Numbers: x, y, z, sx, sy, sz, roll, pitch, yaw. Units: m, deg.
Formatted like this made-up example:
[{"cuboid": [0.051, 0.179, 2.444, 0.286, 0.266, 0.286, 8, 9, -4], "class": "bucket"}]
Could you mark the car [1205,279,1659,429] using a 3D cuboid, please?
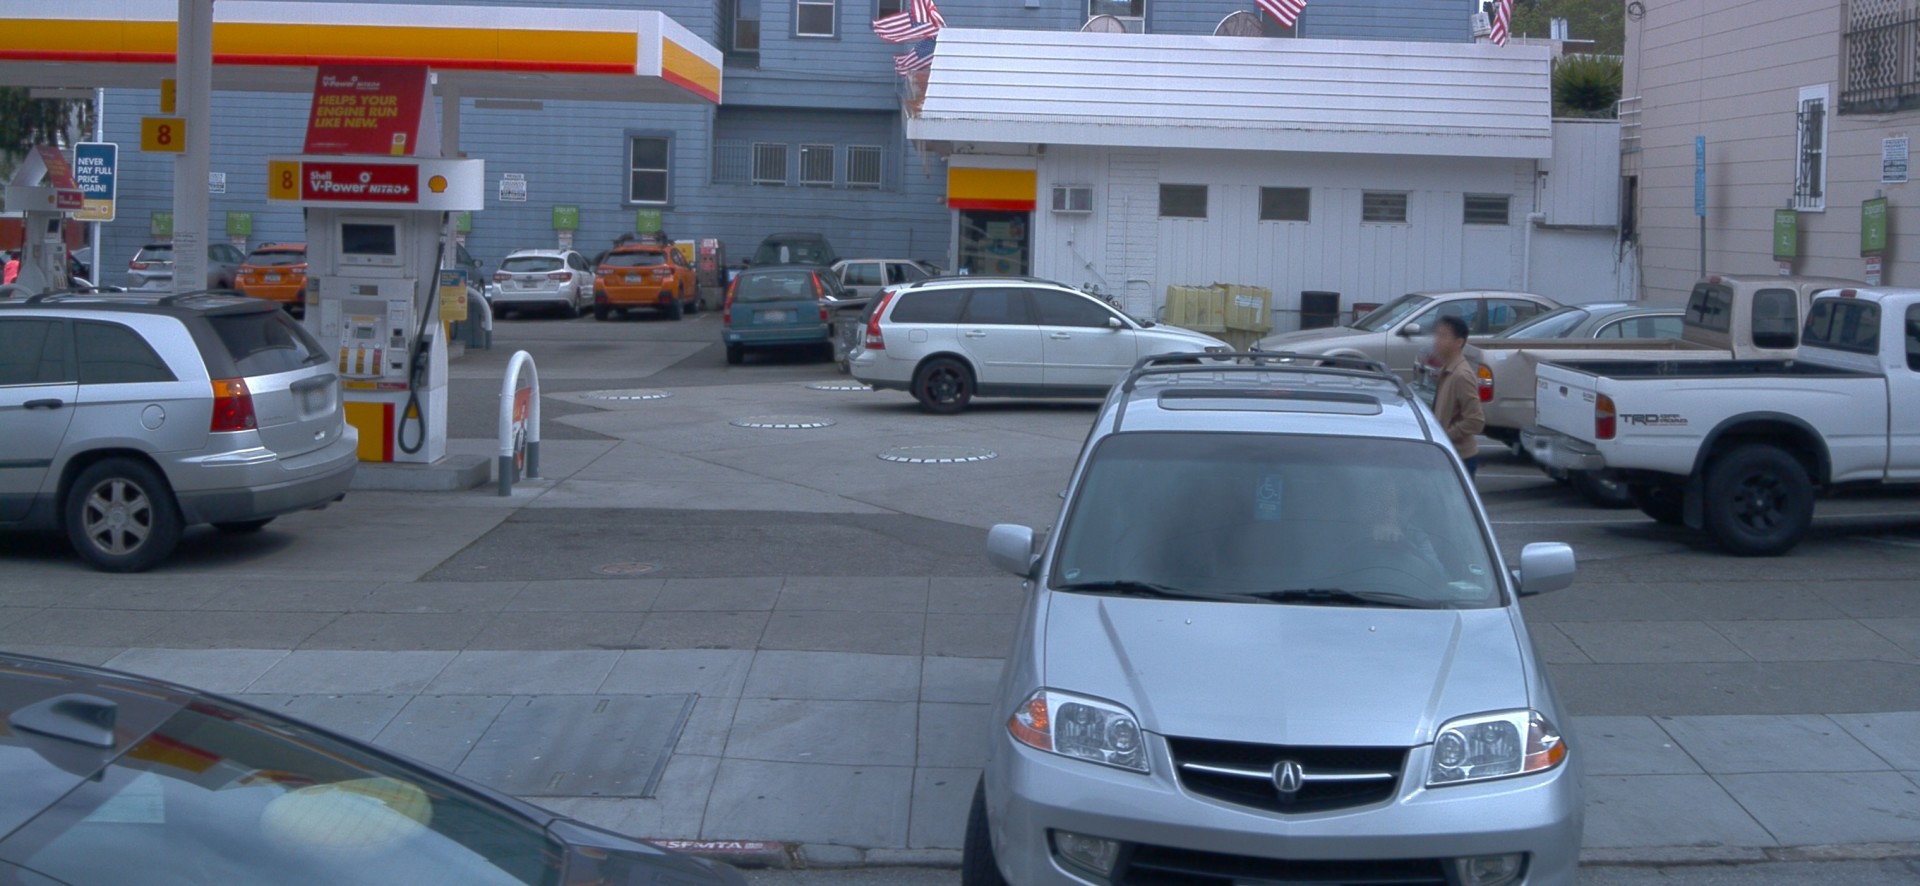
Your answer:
[{"cuboid": [5.412, -1.078, 24.038, 4.753, 1.534, 2.091, -1, 5, -5], "class": "car"}]

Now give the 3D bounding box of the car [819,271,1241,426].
[{"cuboid": [0.721, -1.117, 23.403, 4.564, 1.564, 1.976, -1, 5, -6], "class": "car"}]

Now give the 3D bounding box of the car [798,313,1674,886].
[{"cuboid": [0.965, 0.621, 7.669, 2.230, 1.940, 4.776, 0, 6, 7], "class": "car"}]

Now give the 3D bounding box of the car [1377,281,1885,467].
[{"cuboid": [5.961, -0.669, 18.717, 4.013, 1.515, 1.948, 0, 5, 2], "class": "car"}]

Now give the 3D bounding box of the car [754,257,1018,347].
[{"cuboid": [-1.318, -2.605, 37.681, 4.491, 1.534, 1.923, 1, 5, 10], "class": "car"}]

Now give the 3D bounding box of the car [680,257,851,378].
[{"cuboid": [-2.901, -2.004, 31.812, 2.066, 1.571, 4.834, 0, 6, 1], "class": "car"}]

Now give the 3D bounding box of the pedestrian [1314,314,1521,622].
[{"cuboid": [2.646, 0.120, 12.005, 1.074, 1.700, 0.694, 0, 2, 2], "class": "pedestrian"}]
